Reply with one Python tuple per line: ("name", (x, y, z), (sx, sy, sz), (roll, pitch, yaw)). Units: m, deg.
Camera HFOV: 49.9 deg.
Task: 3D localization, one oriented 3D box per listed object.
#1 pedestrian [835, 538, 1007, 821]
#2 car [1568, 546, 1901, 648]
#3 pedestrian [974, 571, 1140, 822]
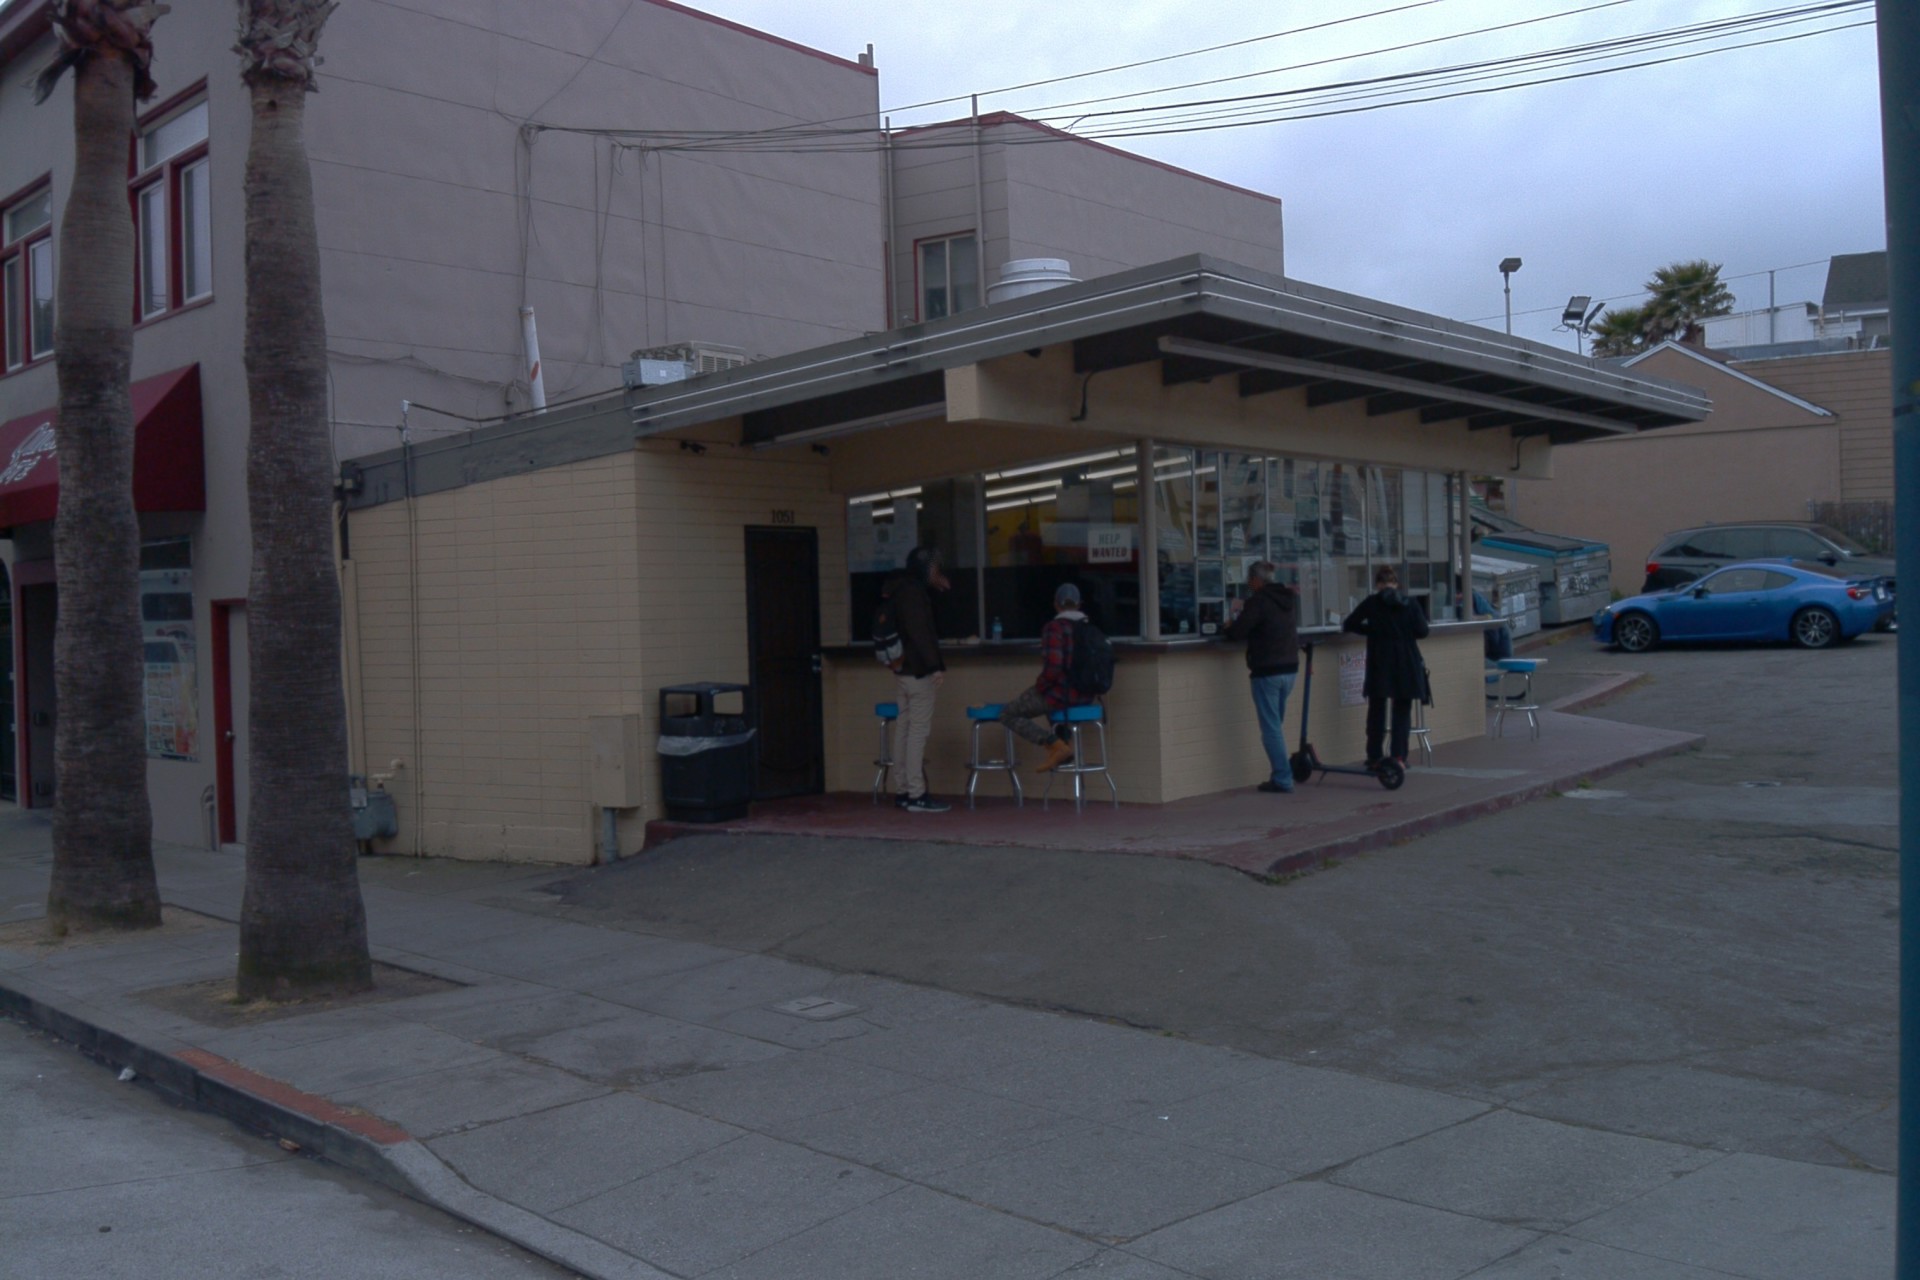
("pedestrian", (-0.285, 0.271, 15.032), (0.826, 1.970, 0.945), (-1, 1, -43))
("car", (11.470, -0.613, 30.693), (4.209, 1.400, 2.020), (0, 1, 39))
("pedestrian", (0.690, 0.379, 14.630), (0.863, 1.710, 0.815), (0, 1, 38))
